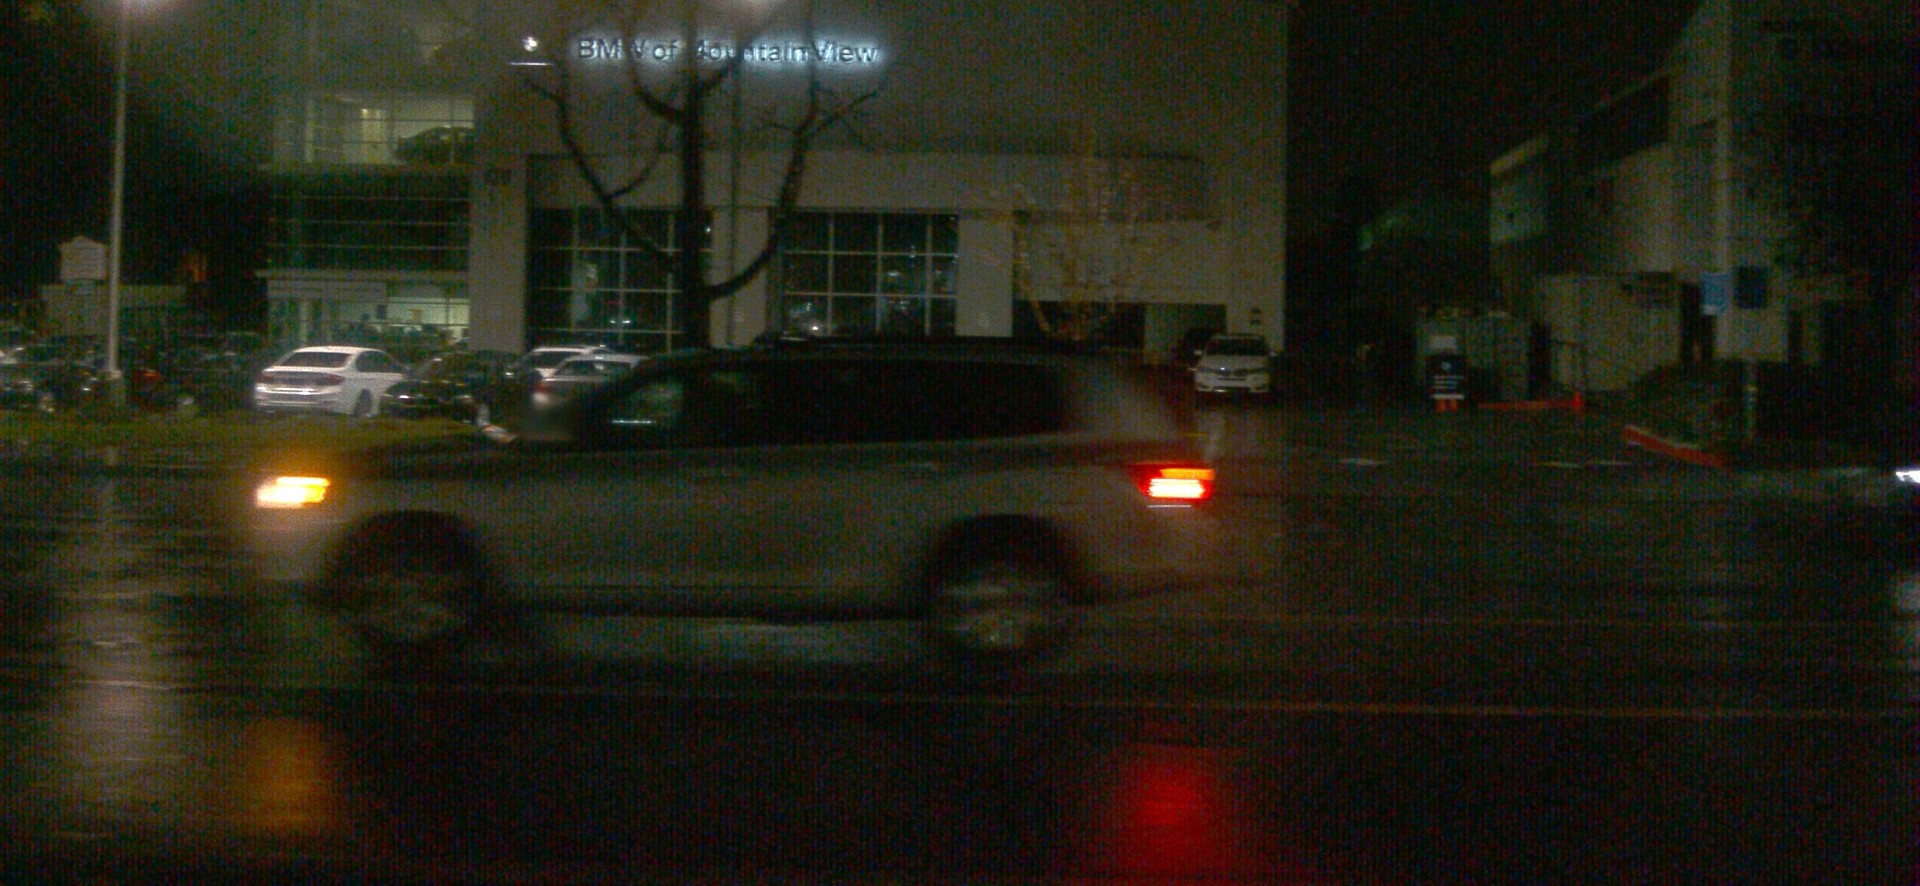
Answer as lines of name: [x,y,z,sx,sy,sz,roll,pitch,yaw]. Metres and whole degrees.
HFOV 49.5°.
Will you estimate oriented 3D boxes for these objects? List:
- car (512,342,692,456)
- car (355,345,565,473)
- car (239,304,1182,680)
car: [-6.406,-0.858,37.752,2.078,1.684,4.216,1,5,7]
car: [-9.084,-0.707,38.304,2.171,1.903,4.803,1,5,7]
car: [-1.260,0.178,11.630,4.754,1.766,2.149,1,4,0]
